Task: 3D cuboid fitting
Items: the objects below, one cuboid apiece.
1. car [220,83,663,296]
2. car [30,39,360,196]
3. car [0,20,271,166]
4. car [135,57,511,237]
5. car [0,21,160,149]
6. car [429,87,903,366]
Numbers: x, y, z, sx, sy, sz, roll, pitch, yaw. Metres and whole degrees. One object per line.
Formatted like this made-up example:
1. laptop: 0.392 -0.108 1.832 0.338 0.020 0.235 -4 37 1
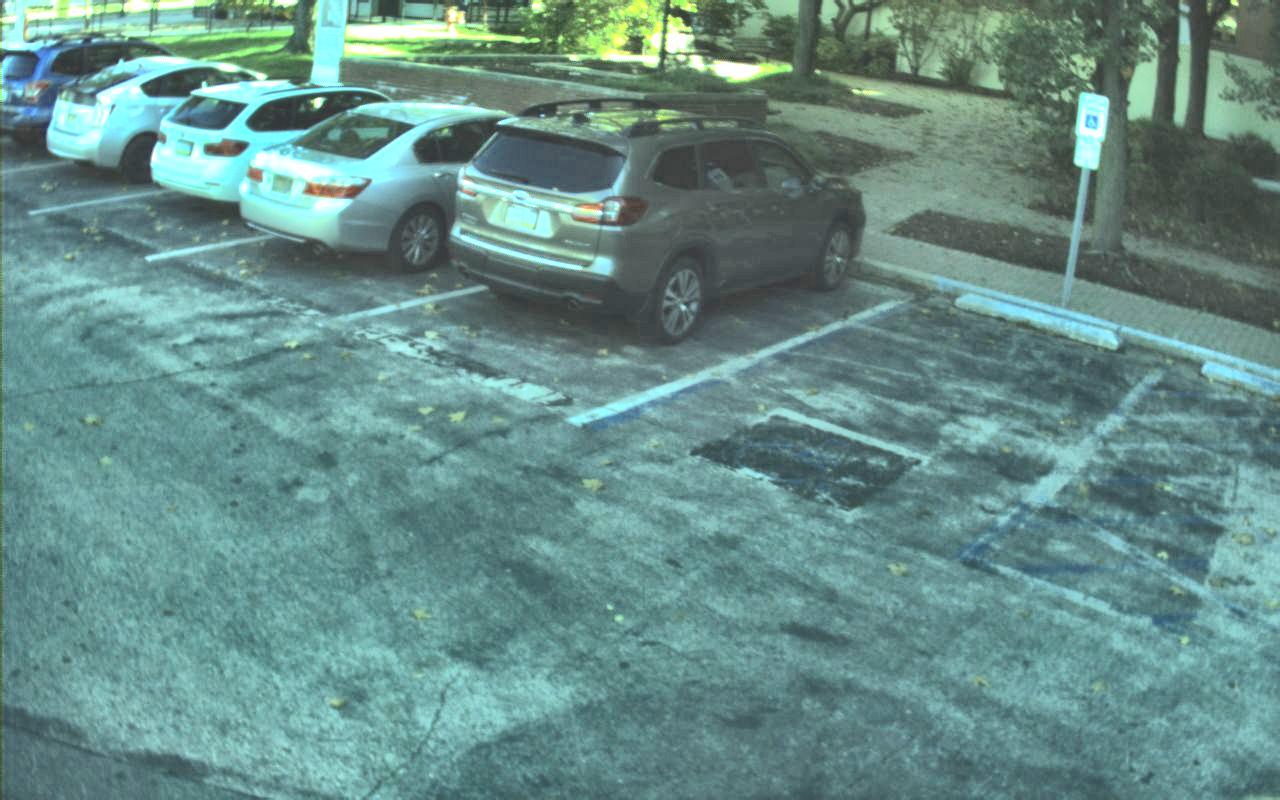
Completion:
1. car: -1.878 -2.316 12.594 1.915 1.537 4.483 11 21 36
2. car: -6.004 -3.857 15.774 1.896 1.584 4.341 11 20 36
3. car: -7.879 -4.652 17.230 1.955 1.687 4.457 11 21 36
4. car: -3.689 -3.115 14.387 1.913 1.595 4.400 10 20 34
5. car: -10.336 -5.257 18.451 1.939 1.586 4.441 11 20 35
6. car: 0.521 -1.842 11.386 2.026 1.759 4.814 10 20 33
